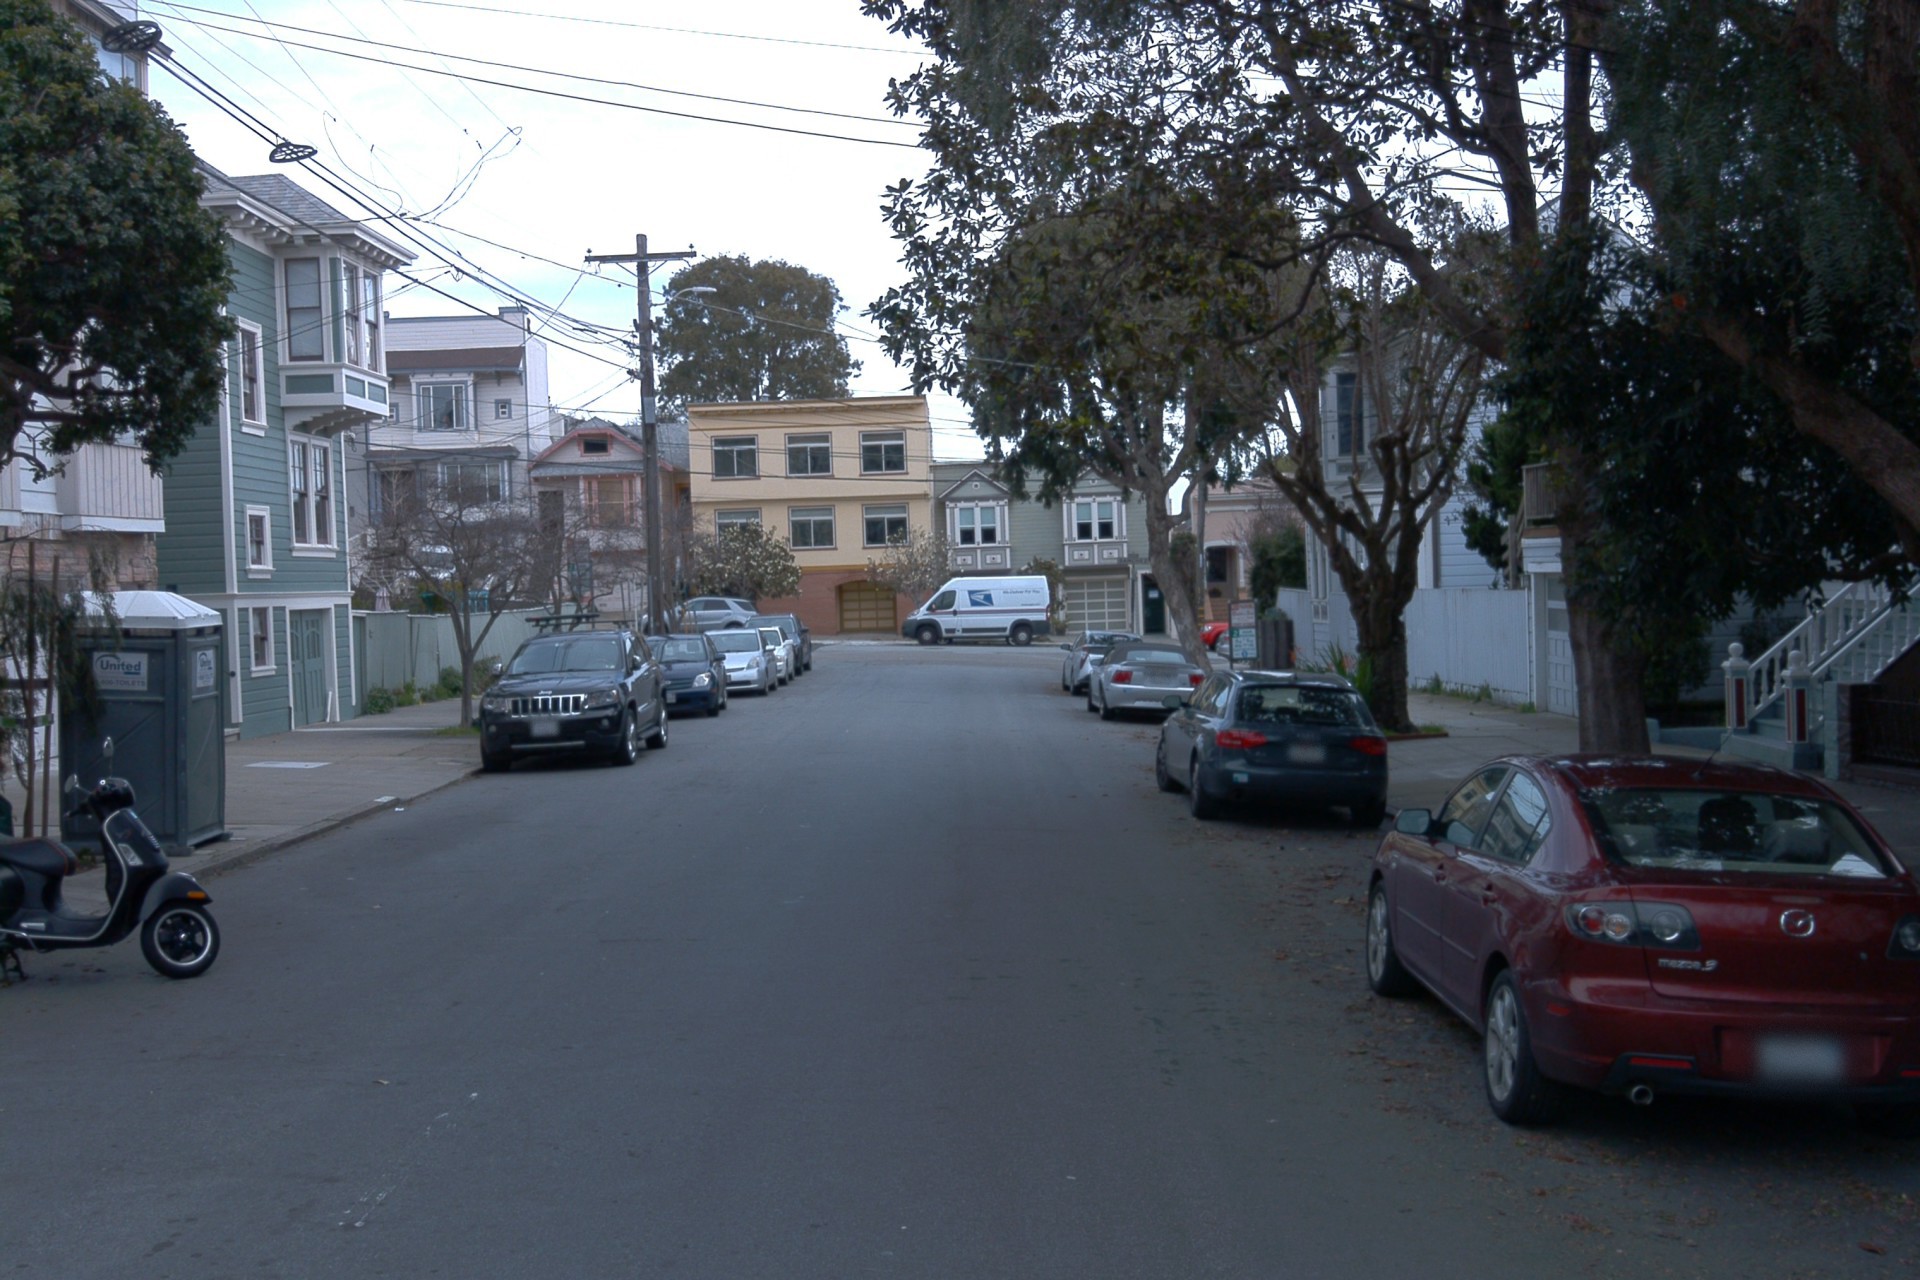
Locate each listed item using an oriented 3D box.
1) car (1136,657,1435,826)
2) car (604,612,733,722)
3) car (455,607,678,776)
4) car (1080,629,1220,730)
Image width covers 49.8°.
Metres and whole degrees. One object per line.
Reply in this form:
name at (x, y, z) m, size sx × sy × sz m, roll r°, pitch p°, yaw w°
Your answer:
car at (3.144, 0.937, 21.046) m, size 2.169 × 1.400 × 4.838 m, roll 1°, pitch 1°, yaw -1°
car at (-5.257, 0.442, 37.719) m, size 1.981 × 1.891 × 3.888 m, roll 0°, pitch 1°, yaw -3°
car at (-5.158, 0.600, 27.758) m, size 2.184 × 2.070 × 4.718 m, roll 1°, pitch 1°, yaw -1°
car at (3.278, 0.647, 36.538) m, size 2.036 × 1.606 × 4.608 m, roll 1°, pitch 1°, yaw 0°
